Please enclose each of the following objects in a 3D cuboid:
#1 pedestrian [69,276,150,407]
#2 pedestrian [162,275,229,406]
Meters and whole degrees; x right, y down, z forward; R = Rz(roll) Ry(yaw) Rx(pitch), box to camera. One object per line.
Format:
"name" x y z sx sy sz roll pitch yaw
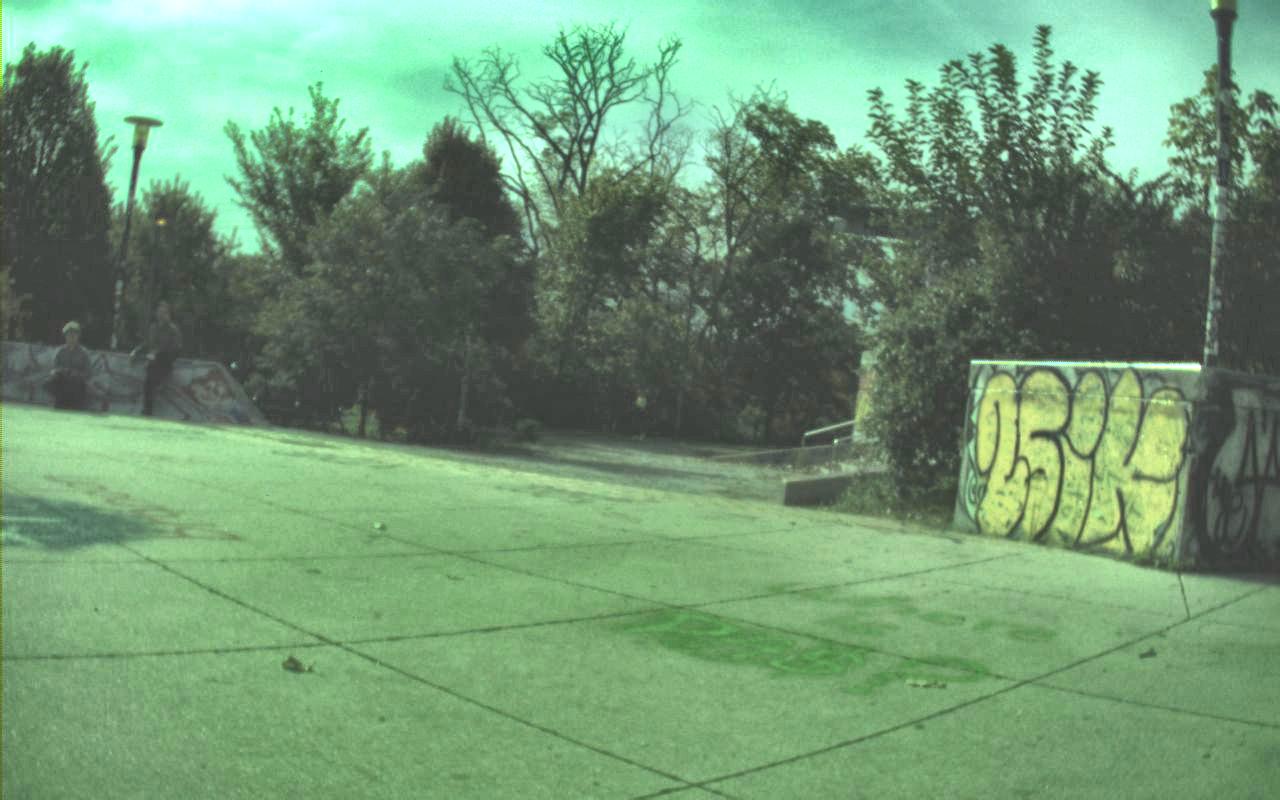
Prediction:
"pedestrian" -6.693 -0.692 14.595 0.792 1.598 0.759 1 0 30
"pedestrian" -5.689 -0.730 15.260 0.695 1.634 0.733 0 0 -4
